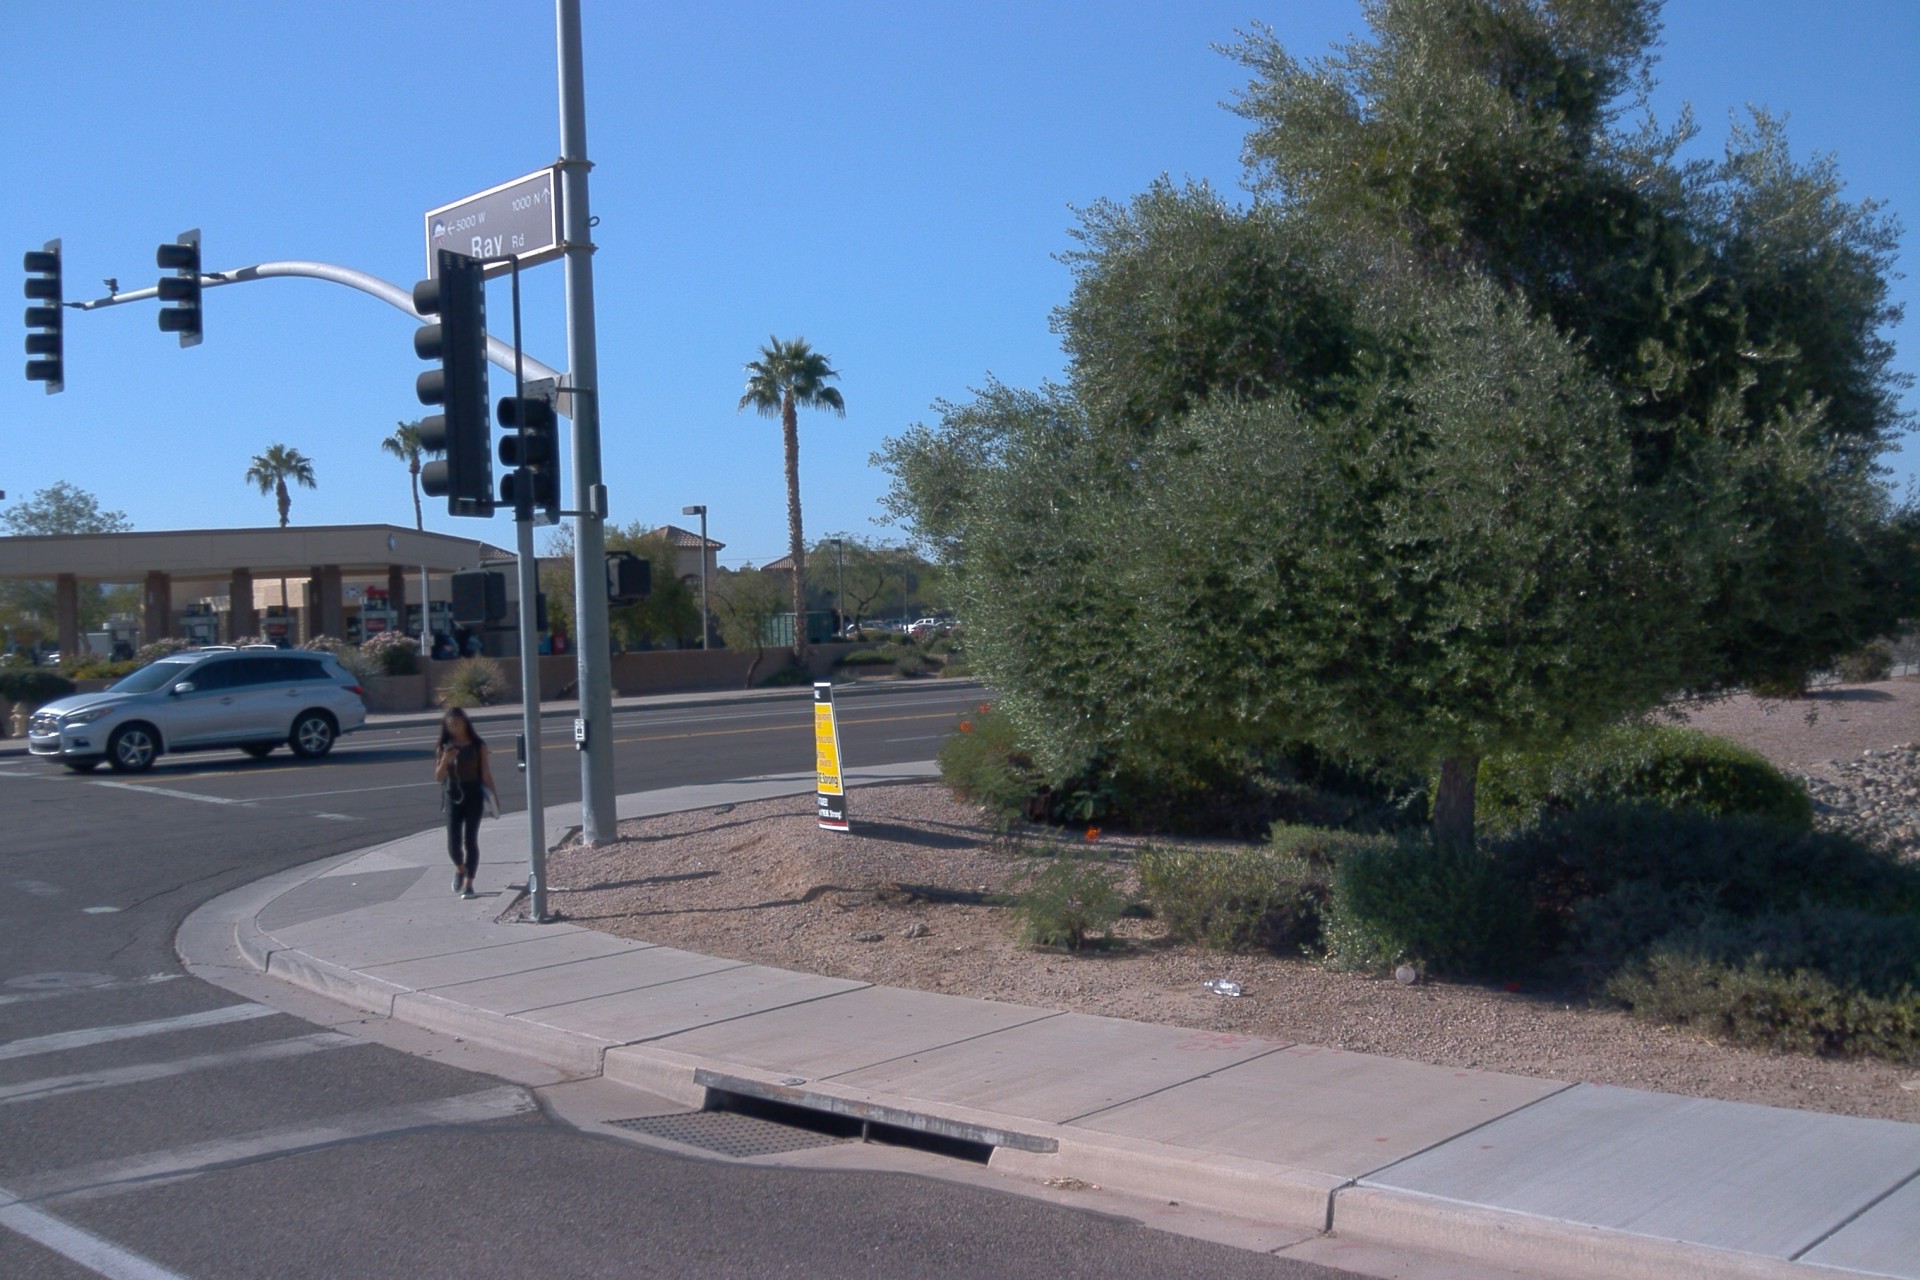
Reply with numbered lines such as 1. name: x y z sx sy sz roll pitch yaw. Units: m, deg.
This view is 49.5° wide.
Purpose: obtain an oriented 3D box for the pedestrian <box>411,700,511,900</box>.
1. pedestrian: -4.121 1.303 17.240 0.668 1.590 0.903 -1 -1 -5

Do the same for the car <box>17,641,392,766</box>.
1. car: -11.599 0.933 32.243 2.081 1.780 5.044 -2 -1 43
